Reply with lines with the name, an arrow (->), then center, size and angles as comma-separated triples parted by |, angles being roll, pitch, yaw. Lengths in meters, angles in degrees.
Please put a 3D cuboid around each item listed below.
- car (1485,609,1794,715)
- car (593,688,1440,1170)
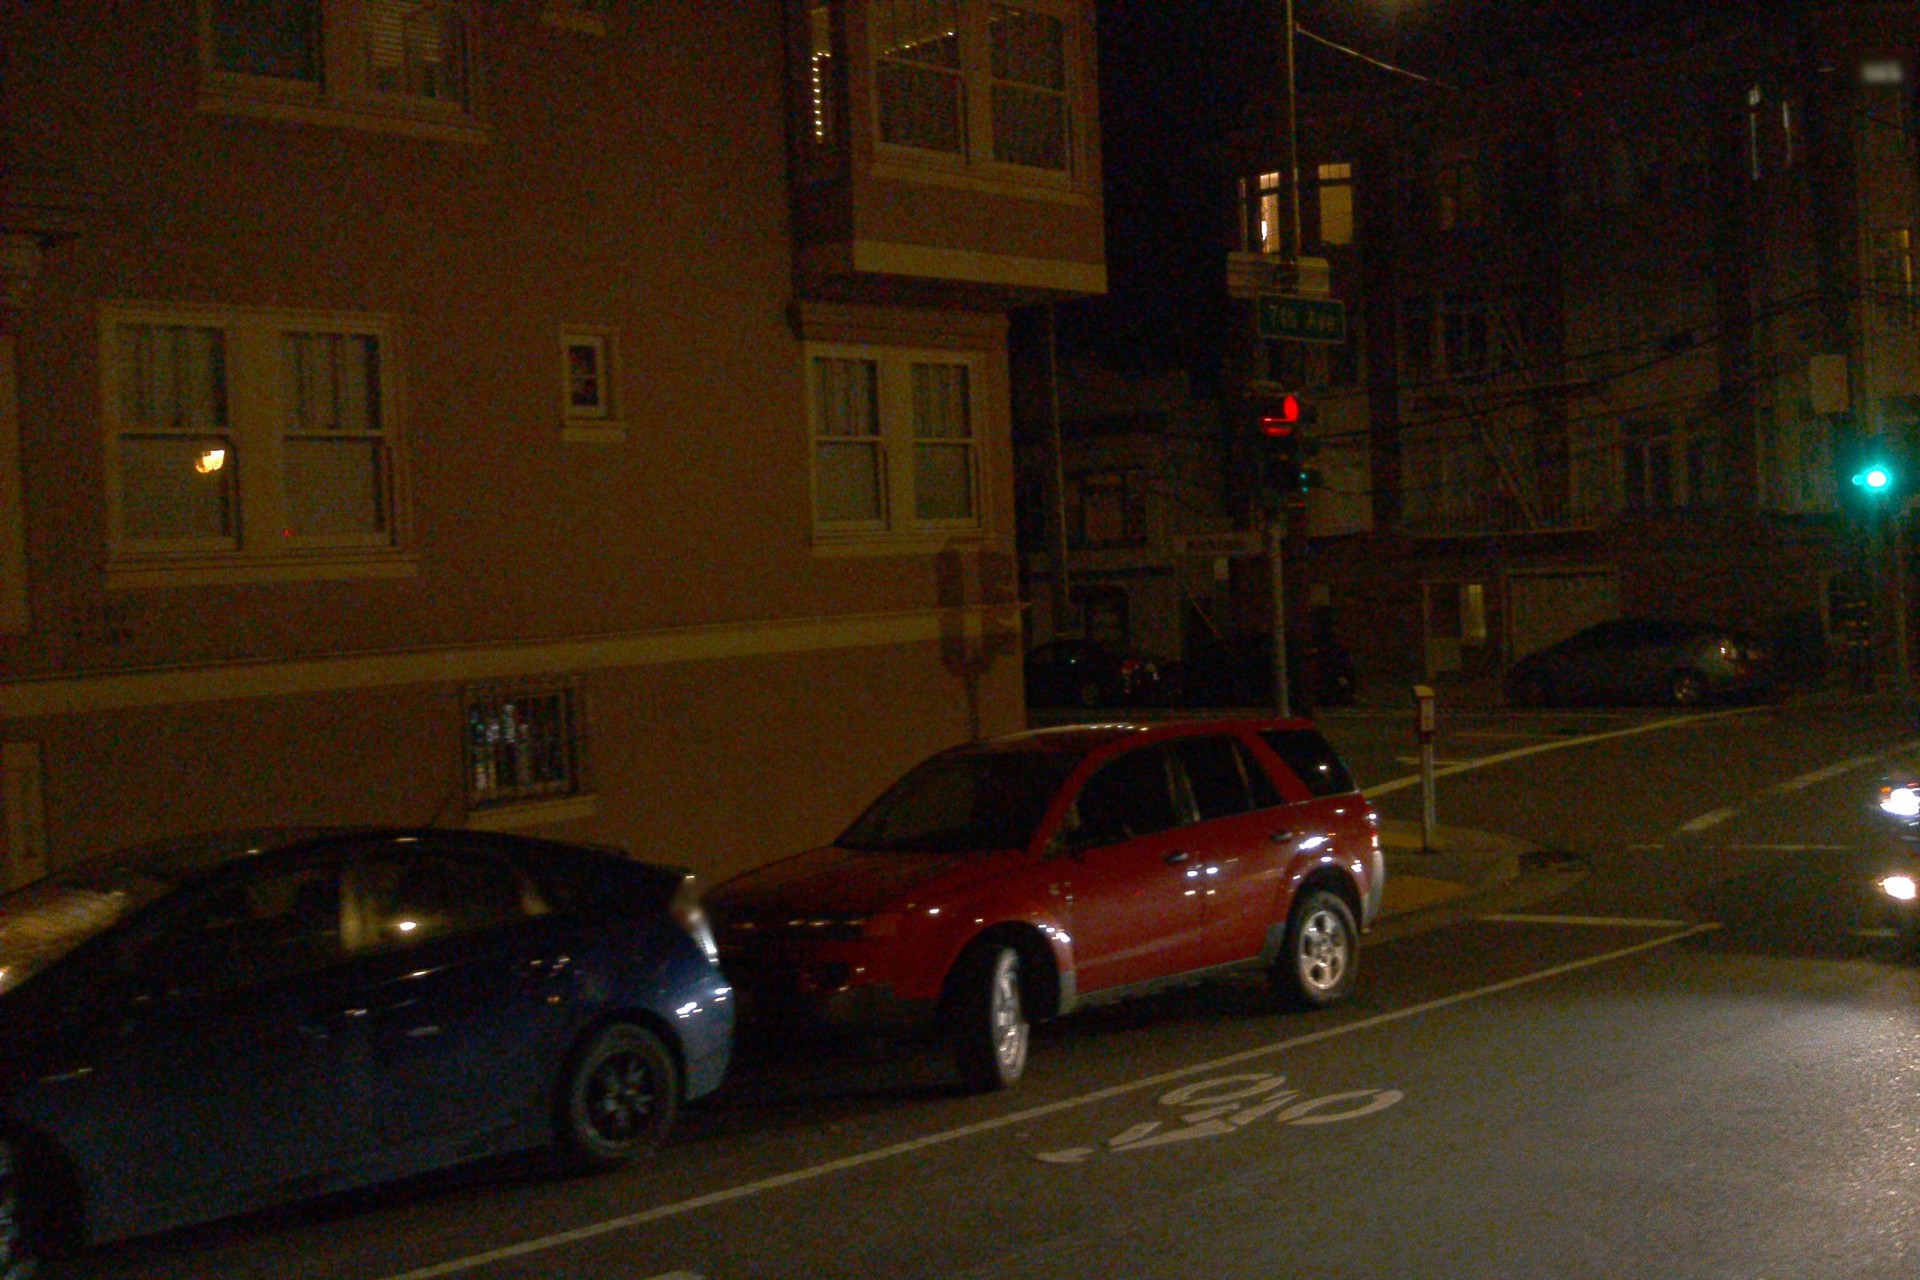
car -> 11.210, 0.303, 34.132 | 1.933, 1.630, 4.458 | -1, 1, -44
car -> 0.501, 1.310, 11.263 | 2.000, 1.910, 4.644 | 1, 1, 45
